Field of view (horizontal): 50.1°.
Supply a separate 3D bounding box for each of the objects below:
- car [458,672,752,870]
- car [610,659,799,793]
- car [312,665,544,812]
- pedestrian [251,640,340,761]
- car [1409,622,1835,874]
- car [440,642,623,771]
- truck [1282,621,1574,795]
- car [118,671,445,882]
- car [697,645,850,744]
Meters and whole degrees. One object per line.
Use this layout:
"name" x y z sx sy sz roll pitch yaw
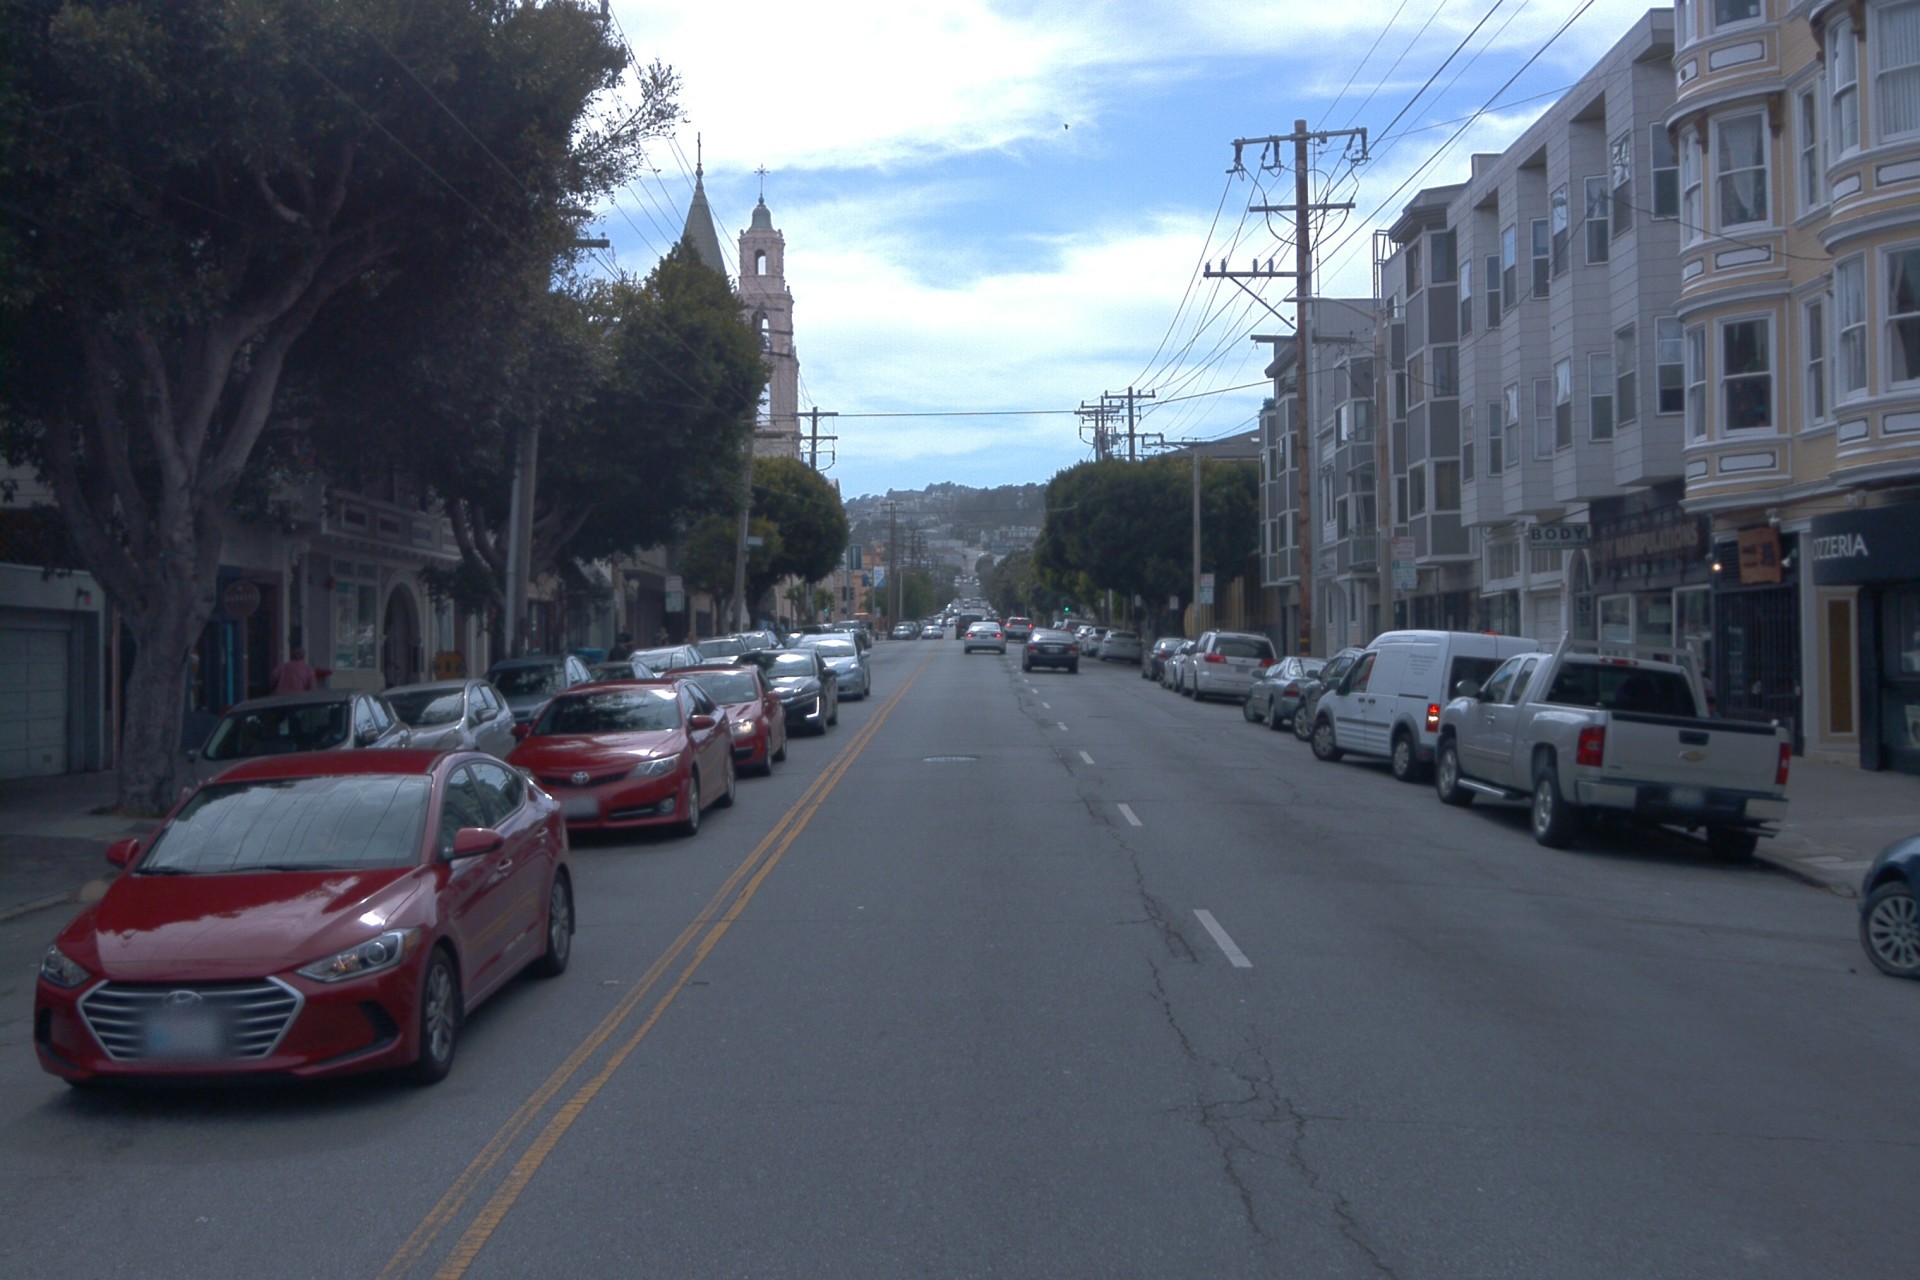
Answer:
"car" -3.415 1.212 20.745 2.125 1.610 4.697 0 1 0
"car" -3.325 1.079 27.627 2.015 1.520 4.590 0 1 -1
"car" -6.796 1.209 26.712 1.946 1.630 4.142 0 1 0
"pedestrian" -10.826 0.969 33.558 1.001 1.920 1.222 0 1 3
"car" 6.601 0.944 21.463 2.464 2.210 5.948 0 1 0
"car" -6.786 0.996 33.050 2.006 1.840 4.471 0 1 0
"truck" 6.241 0.823 28.085 2.113 2.116 4.782 0 1 -11
"car" -6.818 1.293 21.210 2.124 1.800 4.405 0 1 -3
"car" -3.173 0.896 35.883 2.171 1.530 4.626 0 1 1
